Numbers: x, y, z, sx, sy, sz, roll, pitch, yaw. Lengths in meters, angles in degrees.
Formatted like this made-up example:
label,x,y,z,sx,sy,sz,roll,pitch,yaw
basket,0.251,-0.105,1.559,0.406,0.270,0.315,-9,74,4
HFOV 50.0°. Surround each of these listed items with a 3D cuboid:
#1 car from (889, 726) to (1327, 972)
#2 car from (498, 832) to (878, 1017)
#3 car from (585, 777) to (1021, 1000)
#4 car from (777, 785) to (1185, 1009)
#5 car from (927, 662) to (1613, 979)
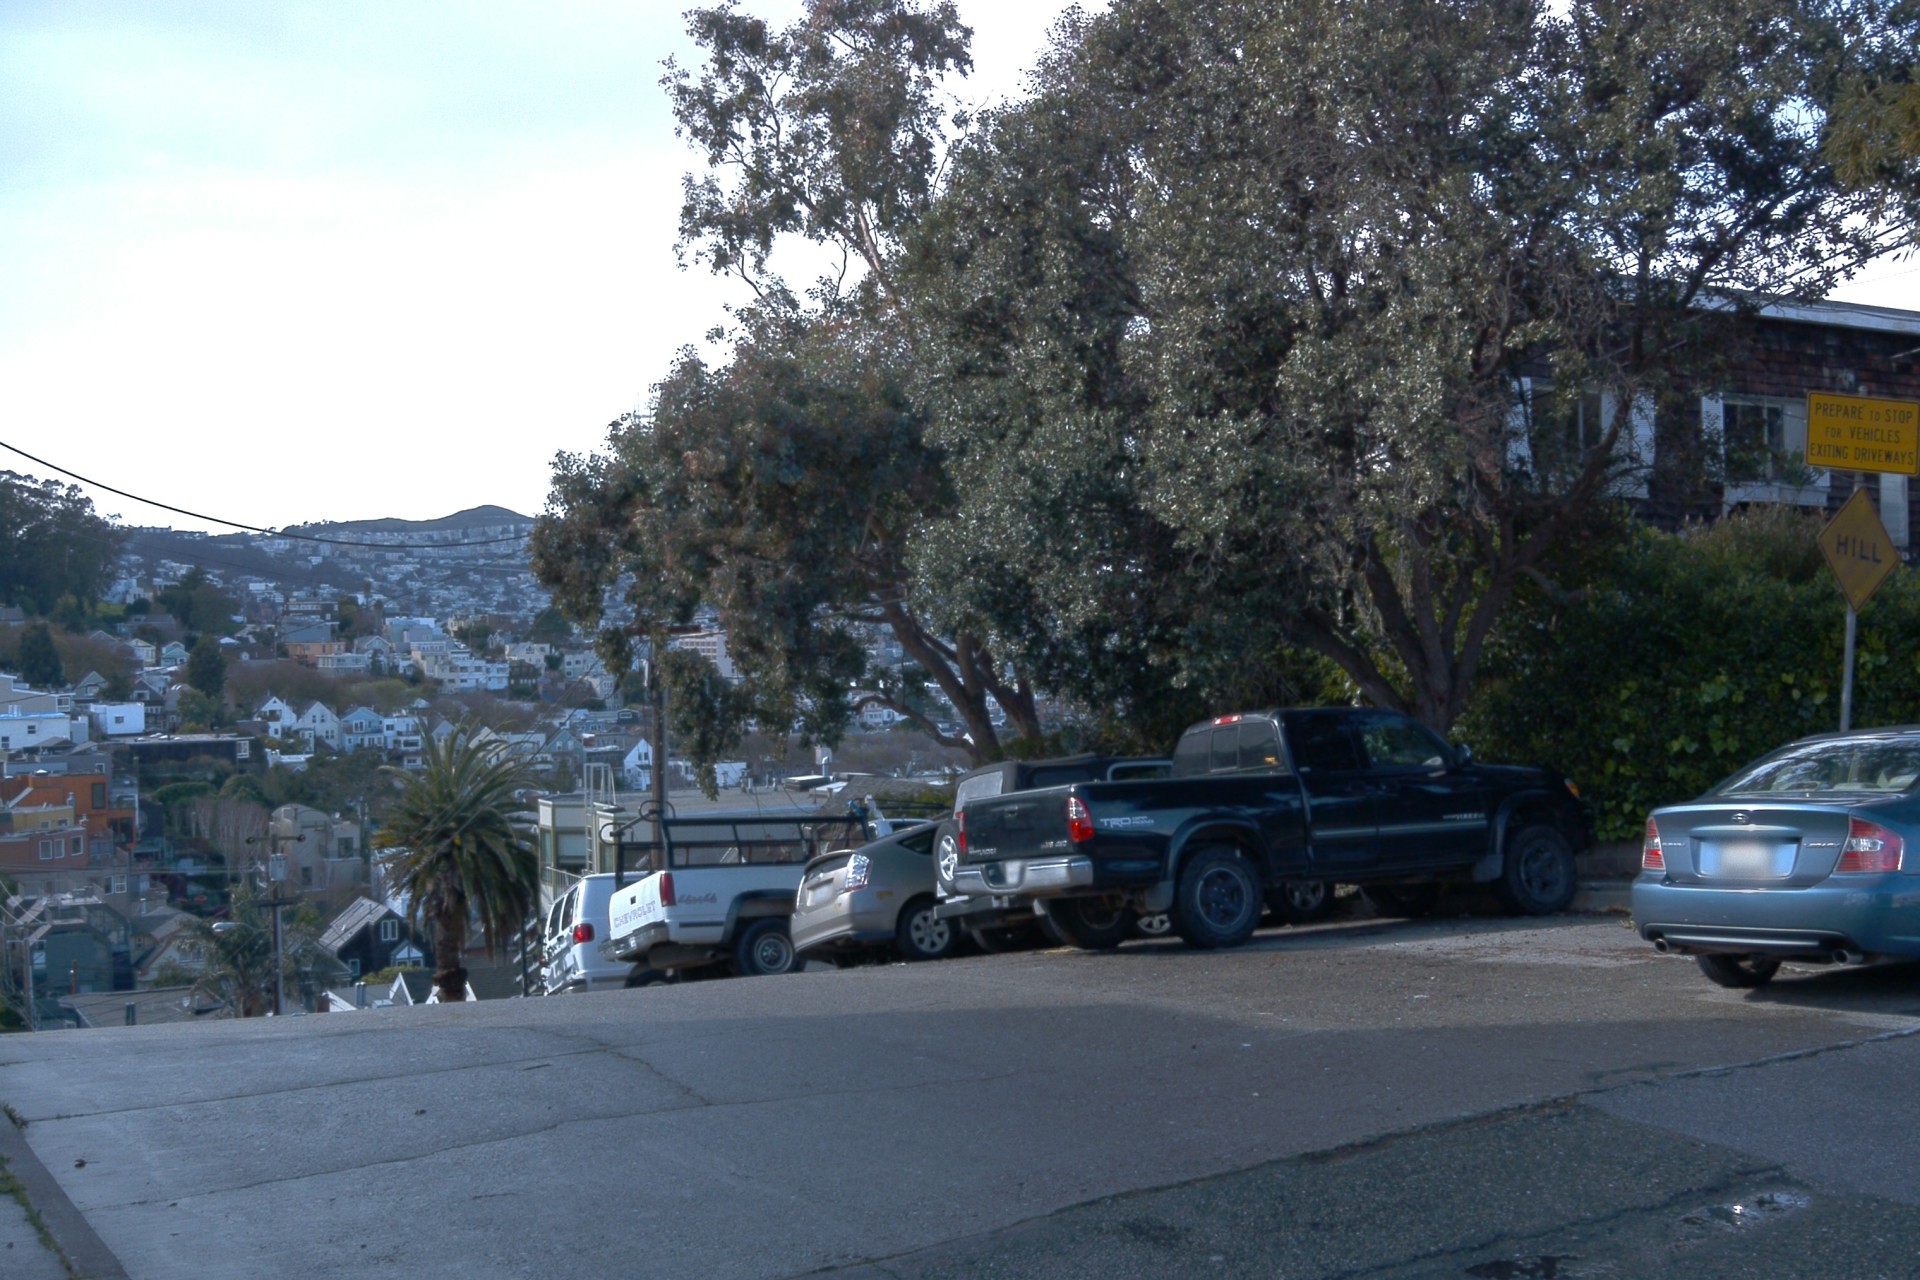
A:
label,x,y,z,sx,sy,sz,roll,pitch,yaw
car,1.425,1.905,19.707,3.836,2.000,1.721,0,1,-27
car,-3.513,3.591,26.592,4.365,1.810,2.217,0,1,-28
car,-1.765,2.688,23.122,4.327,1.990,2.276,0,1,-28
car,0.226,2.568,21.235,3.842,1.880,1.735,0,1,-27
car,2.621,1.312,16.922,5.450,2.190,2.074,0,1,-30
